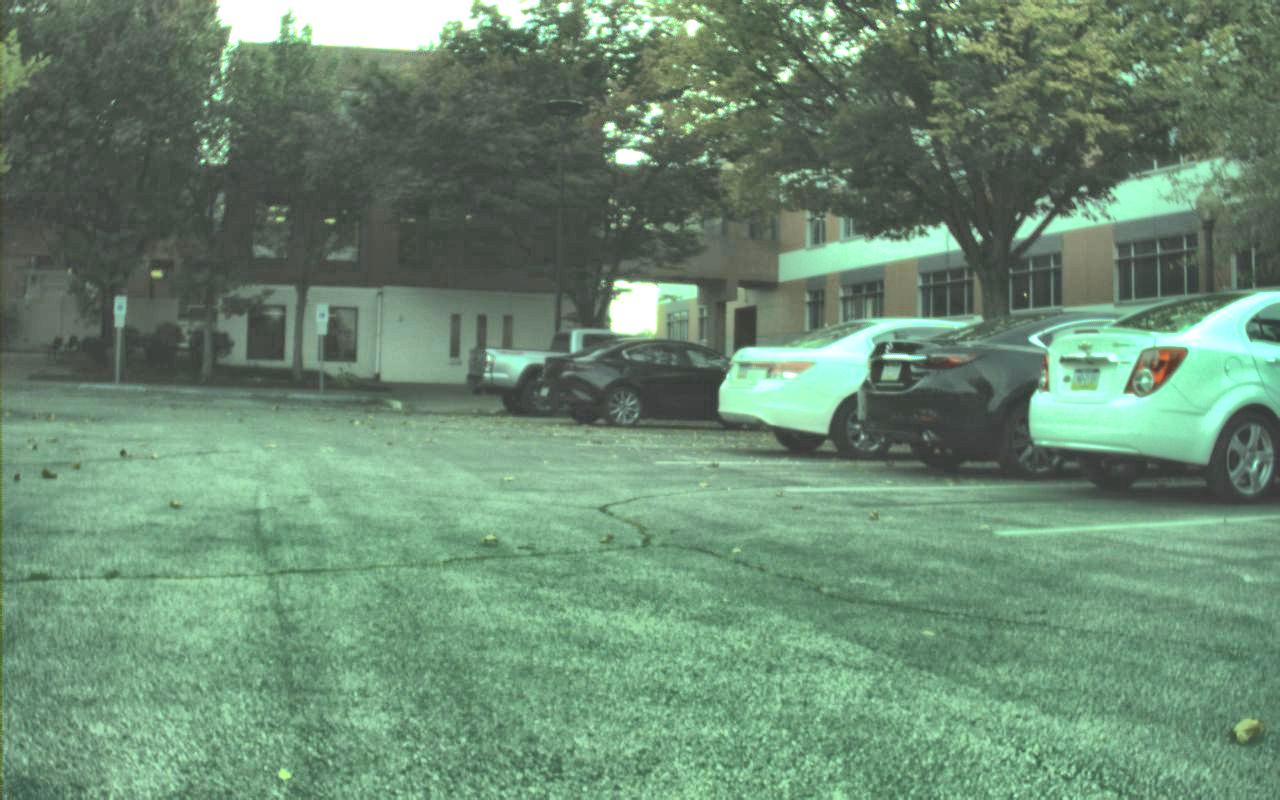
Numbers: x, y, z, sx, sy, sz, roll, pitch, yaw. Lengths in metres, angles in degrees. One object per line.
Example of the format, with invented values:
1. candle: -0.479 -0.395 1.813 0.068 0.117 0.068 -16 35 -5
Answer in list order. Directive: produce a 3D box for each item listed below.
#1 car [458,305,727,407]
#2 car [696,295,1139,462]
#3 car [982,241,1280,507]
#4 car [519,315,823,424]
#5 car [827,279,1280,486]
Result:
1. car: -0.989 -0.850 25.326 5.020 1.917 2.094 0 1 -19
2. car: 3.016 -0.227 13.204 4.484 1.551 1.913 0 1 -15
3. car: 4.850 -0.169 8.562 4.397 1.591 1.900 0 1 -16
4. car: 0.529 -0.489 20.524 4.600 1.601 1.956 0 1 -27
5. car: 4.027 -0.154 10.864 4.373 1.559 1.894 0 1 -18
